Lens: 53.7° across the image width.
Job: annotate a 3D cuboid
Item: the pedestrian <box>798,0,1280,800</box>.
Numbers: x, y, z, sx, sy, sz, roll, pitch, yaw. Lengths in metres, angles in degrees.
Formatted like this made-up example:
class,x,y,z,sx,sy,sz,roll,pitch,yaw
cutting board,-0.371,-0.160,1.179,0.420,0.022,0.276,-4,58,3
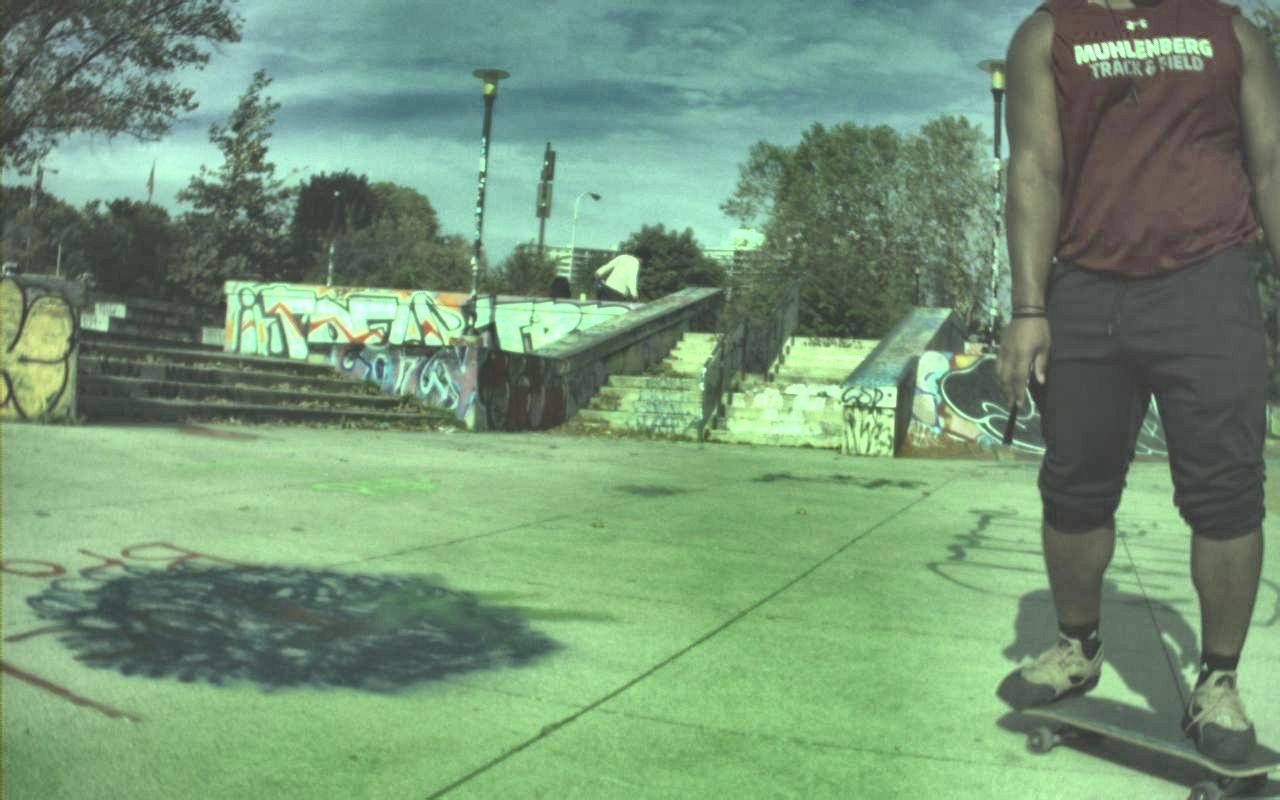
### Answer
class,x,y,z,sx,sy,sz,roll,pitch,yaw
pedestrian,0.865,-0.243,2.070,0.781,1.649,0.897,0,0,-32

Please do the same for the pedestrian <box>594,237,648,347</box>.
class,x,y,z,sx,sy,sz,roll,pitch,yaw
pedestrian,-0.333,-1.860,22.027,0.875,1.865,0.822,0,0,-5
